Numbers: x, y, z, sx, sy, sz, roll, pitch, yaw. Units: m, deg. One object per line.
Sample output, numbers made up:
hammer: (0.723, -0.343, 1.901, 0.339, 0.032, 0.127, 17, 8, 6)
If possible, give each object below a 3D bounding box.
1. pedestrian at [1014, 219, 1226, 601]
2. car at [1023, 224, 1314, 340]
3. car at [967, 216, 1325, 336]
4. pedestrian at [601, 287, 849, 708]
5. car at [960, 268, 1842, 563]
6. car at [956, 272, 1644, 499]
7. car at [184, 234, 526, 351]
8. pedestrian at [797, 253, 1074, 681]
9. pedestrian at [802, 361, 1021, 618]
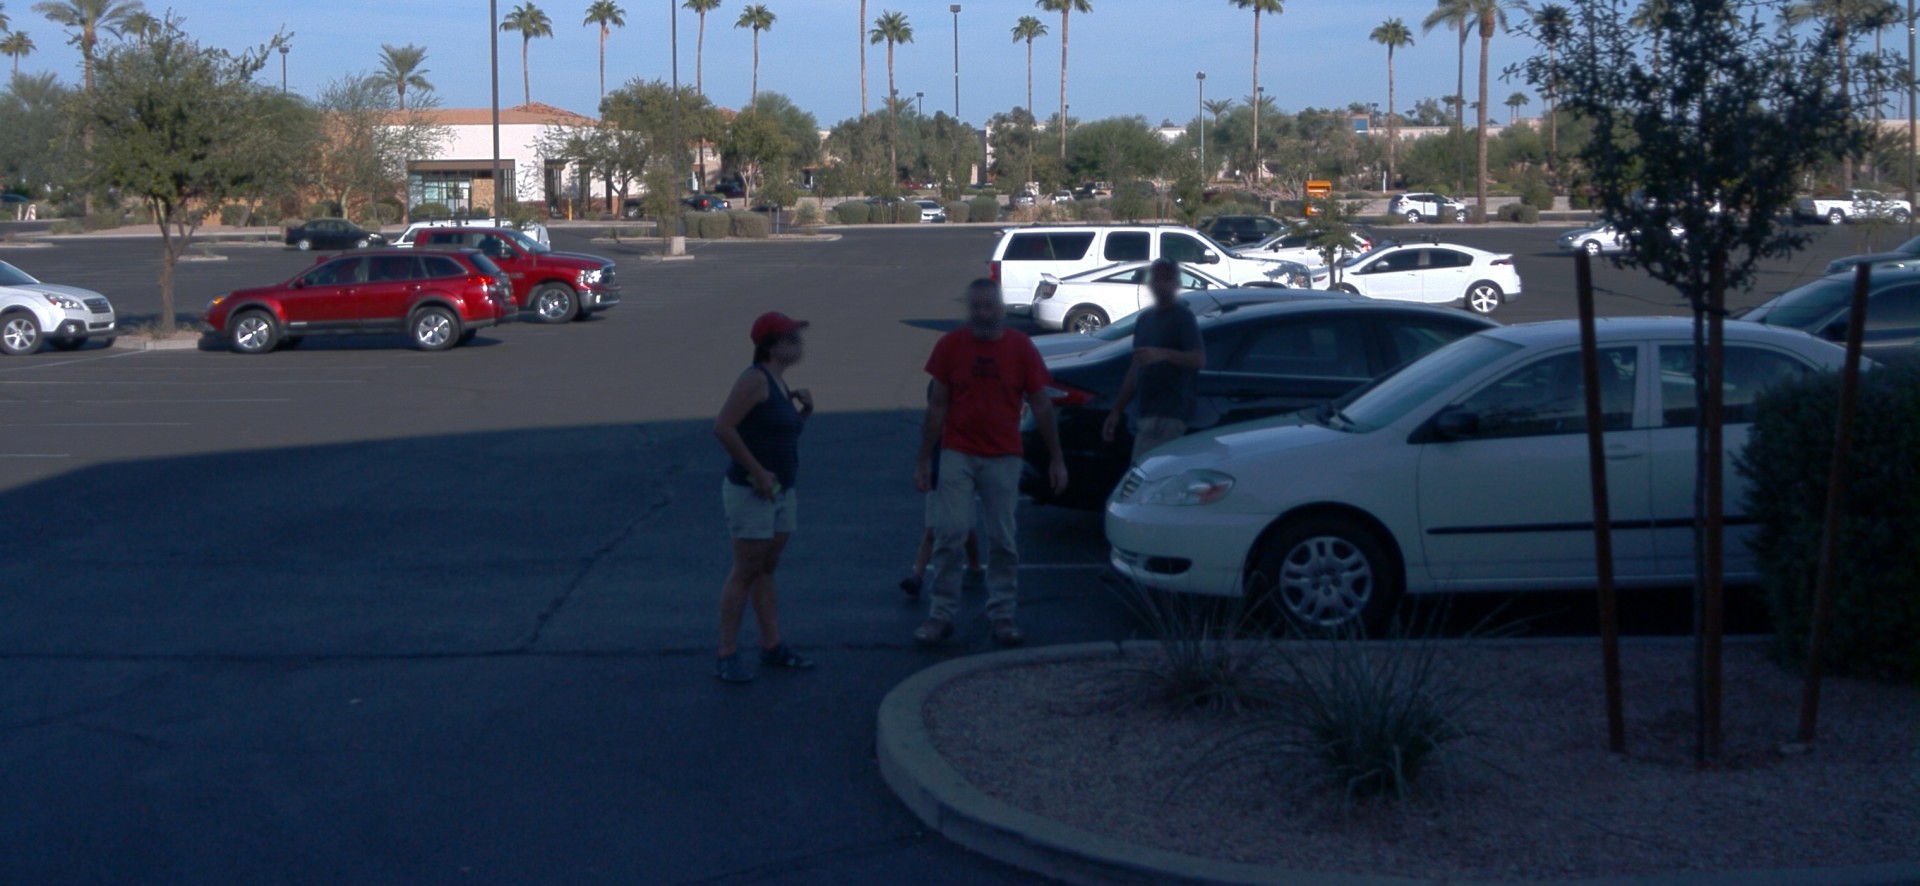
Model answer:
pedestrian: (0.857, -0.239, 11.514, 1.063, 1.995, 1.235, 0, 3, -1)
car: (3.196, -2.543, 32.416, 4.377, 1.714, 2.085, 0, 4, 3)
car: (3.096, -2.874, 35.219, 5.835, 1.933, 2.560, 0, 5, 3)
pedestrian: (-1.022, 0.192, 9.175, 0.840, 1.716, 0.831, 1, 2, 15)
car: (2.594, -0.254, 13.101, 5.078, 1.624, 2.088, 0, 5, 3)
car: (2.542, -0.515, 15.932, 4.877, 1.494, 2.059, 1, 5, 9)
car: (-9.505, -2.422, 32.901, 4.803, 1.735, 2.227, 0, 5, -2)
pedestrian: (-0.082, 0.053, 9.700, 1.172, 1.846, 1.119, 0, 3, 6)
pedestrian: (-0.253, 0.214, 11.042, 0.837, 1.207, 0.816, 2, 4, 37)
